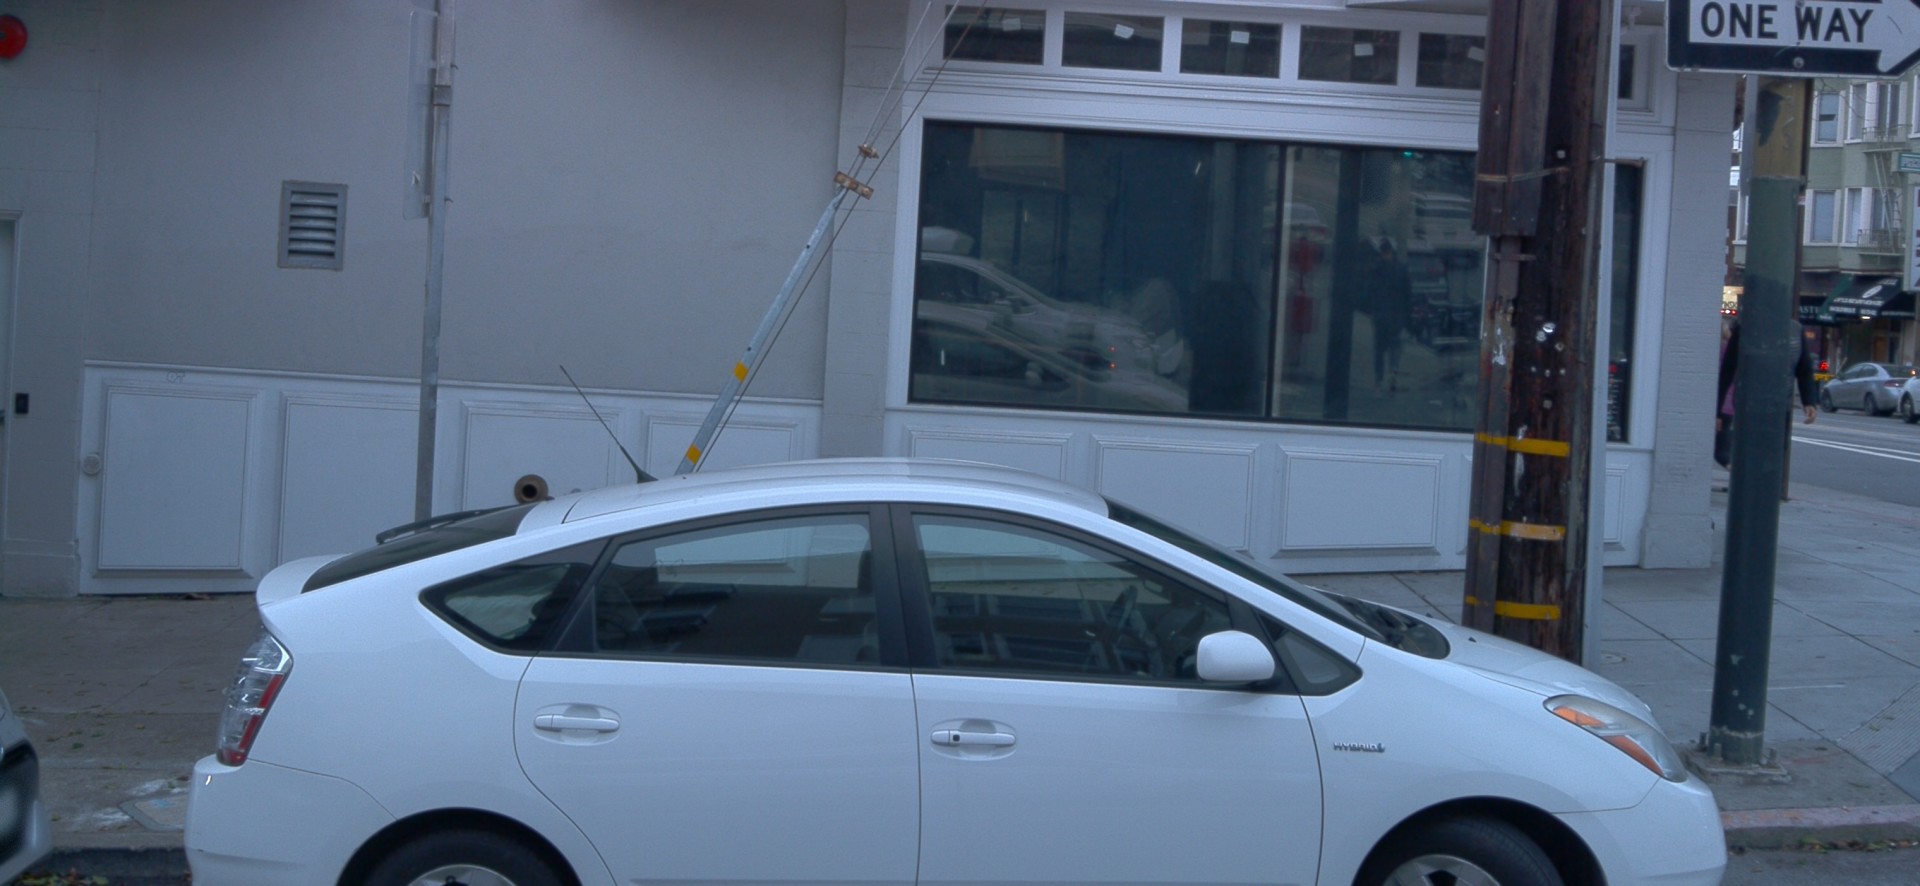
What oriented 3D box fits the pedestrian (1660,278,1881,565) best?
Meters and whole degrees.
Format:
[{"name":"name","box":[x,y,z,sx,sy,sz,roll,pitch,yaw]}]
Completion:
[{"name":"pedestrian","box":[5.226,-0.184,13.375,0.879,1.712,1.254,0,3,-4]}]

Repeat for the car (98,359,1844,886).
[{"name":"car","box":[0.039,0.750,6.293,4.494,1.824,1.965,-1,4,-2]}]

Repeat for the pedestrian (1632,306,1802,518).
[{"name":"pedestrian","box":[6.307,-0.291,17.249,0.940,1.636,1.190,0,3,-4]}]
